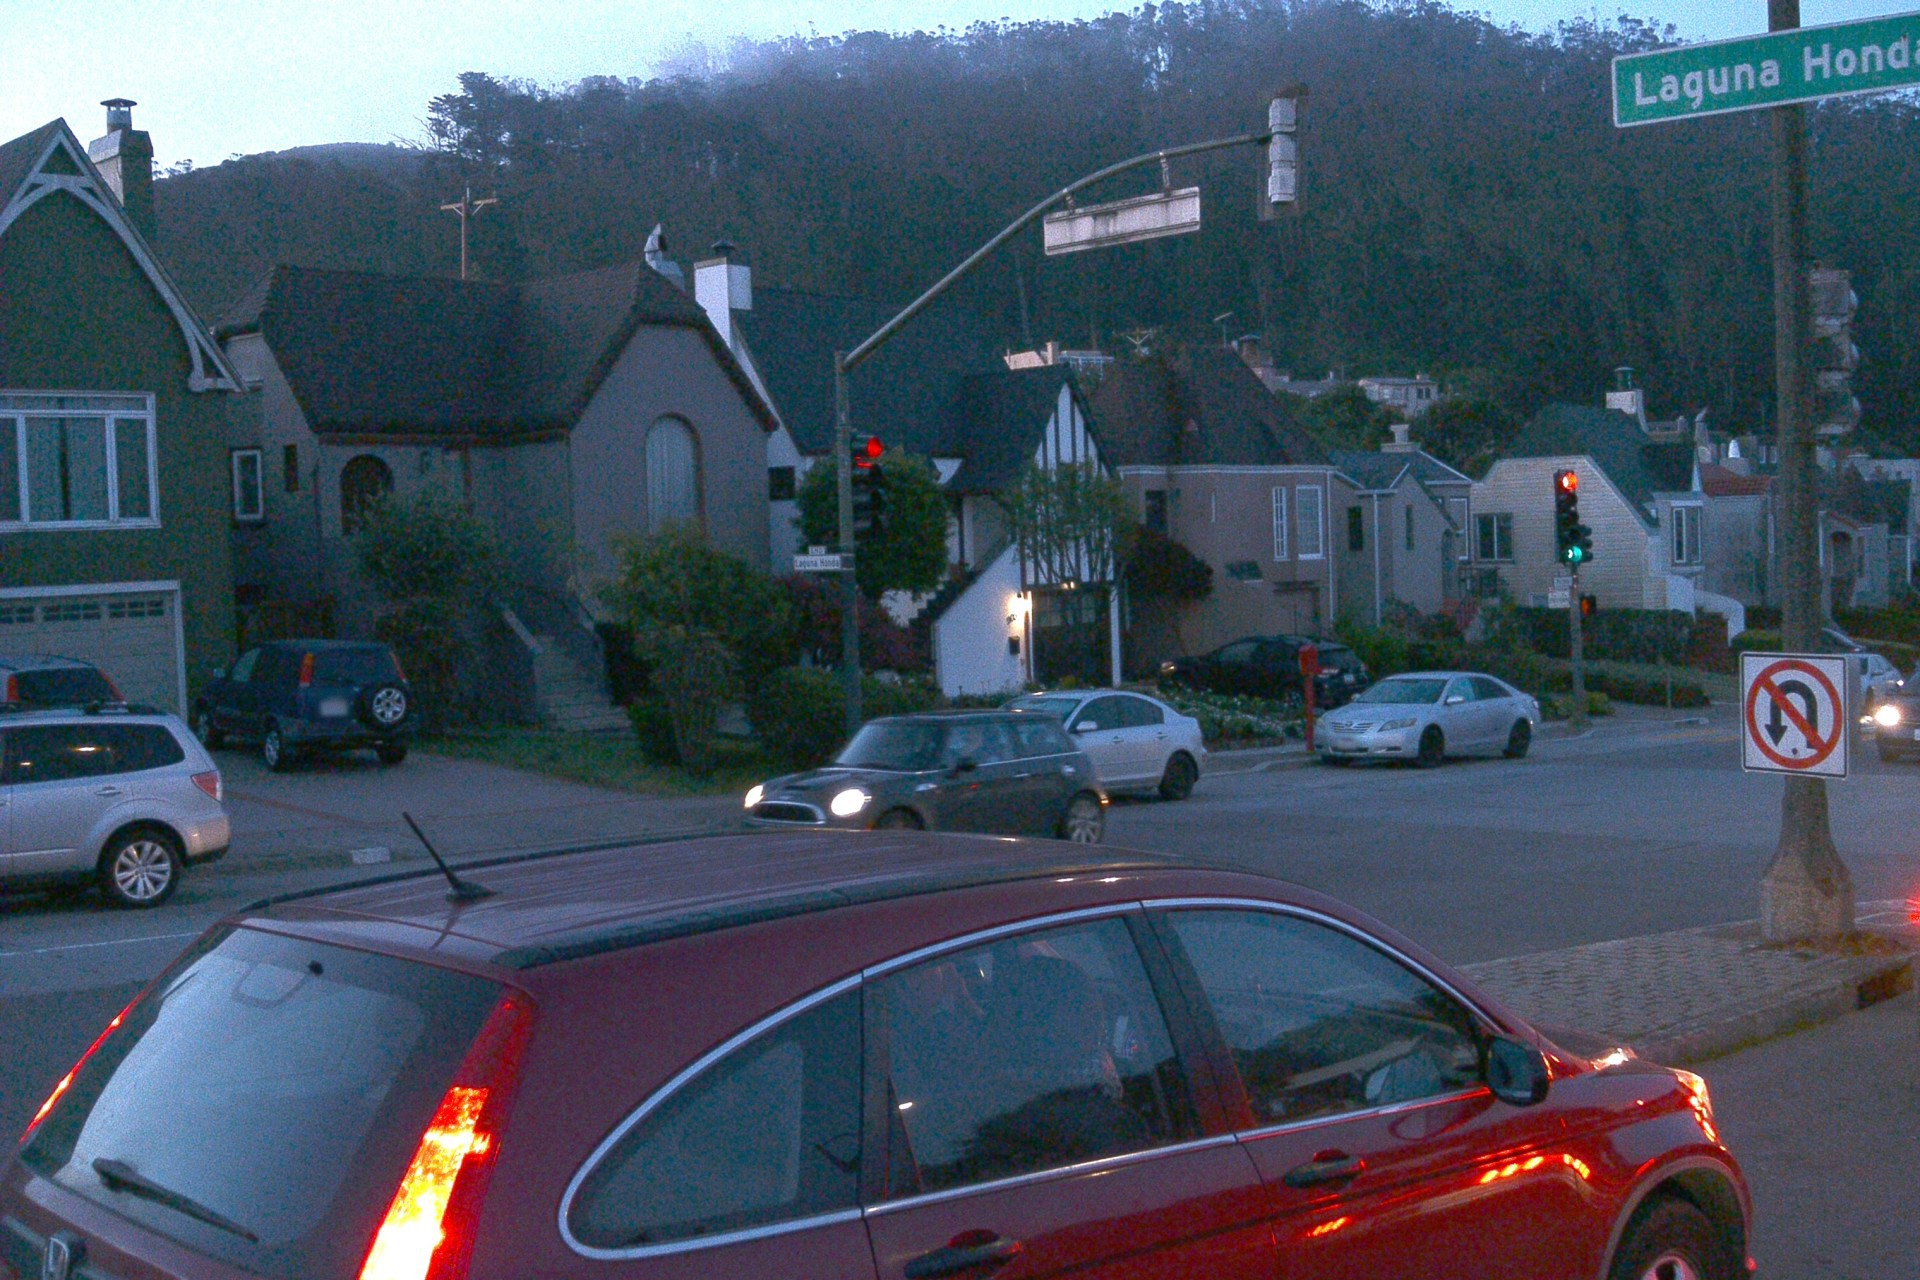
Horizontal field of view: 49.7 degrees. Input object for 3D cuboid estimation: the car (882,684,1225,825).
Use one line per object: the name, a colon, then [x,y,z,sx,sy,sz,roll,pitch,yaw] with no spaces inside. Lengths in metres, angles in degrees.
car: [1.253,1.352,25.938,1.901,1.490,4.437,0,0,42]

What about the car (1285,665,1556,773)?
car: [7.475,1.203,33.345,2.119,1.530,4.797,0,0,43]

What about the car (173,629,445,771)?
car: [-8.841,0.745,27.939,2.020,1.750,4.316,0,0,-39]

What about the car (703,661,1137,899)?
car: [-0.291,1.172,19.033,1.799,1.890,3.810,0,0,44]
